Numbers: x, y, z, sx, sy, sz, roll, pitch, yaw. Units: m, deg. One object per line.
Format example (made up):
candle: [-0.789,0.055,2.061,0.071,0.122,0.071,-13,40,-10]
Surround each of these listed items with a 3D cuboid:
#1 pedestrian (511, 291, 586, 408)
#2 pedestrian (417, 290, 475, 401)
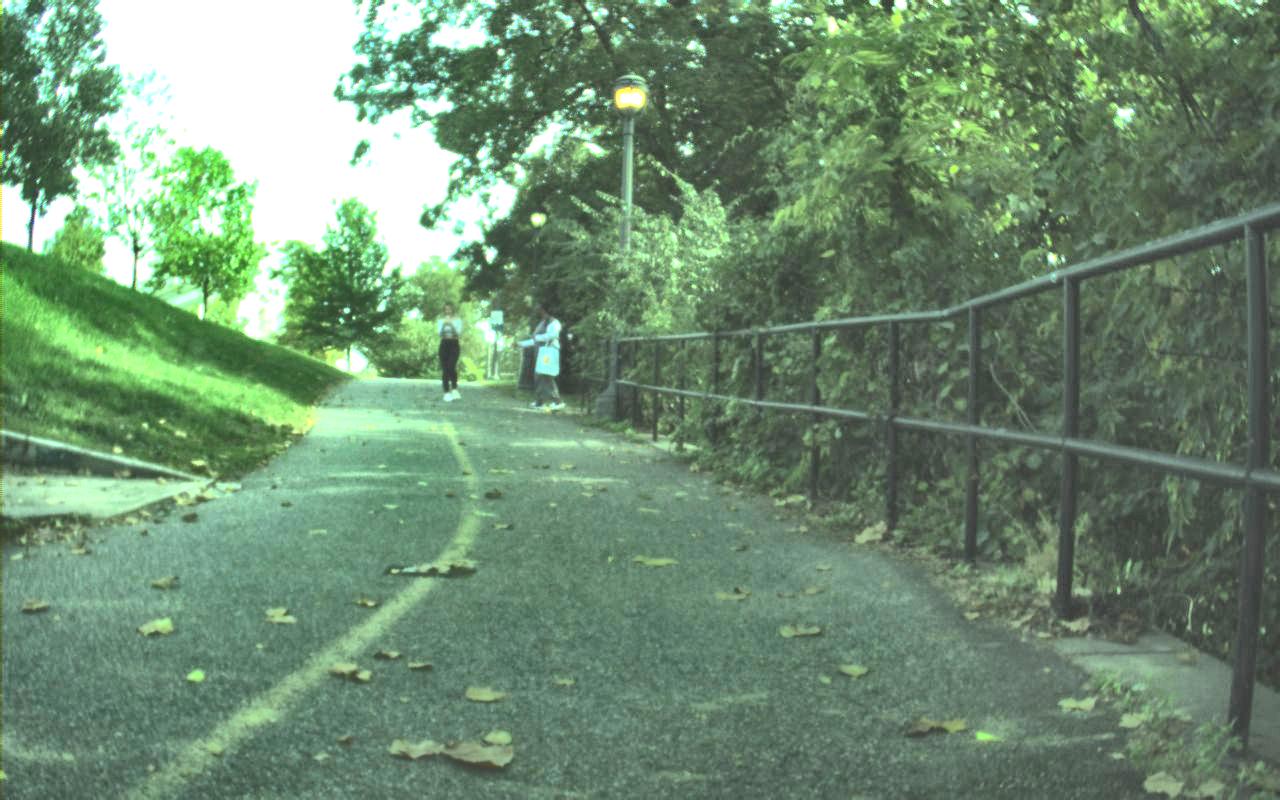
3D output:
pedestrian: [-1.404,-0.768,19.325,0.836,1.740,0.852,0,0,-34]
pedestrian: [-3.159,-0.875,20.382,0.736,1.767,0.728,0,0,11]
